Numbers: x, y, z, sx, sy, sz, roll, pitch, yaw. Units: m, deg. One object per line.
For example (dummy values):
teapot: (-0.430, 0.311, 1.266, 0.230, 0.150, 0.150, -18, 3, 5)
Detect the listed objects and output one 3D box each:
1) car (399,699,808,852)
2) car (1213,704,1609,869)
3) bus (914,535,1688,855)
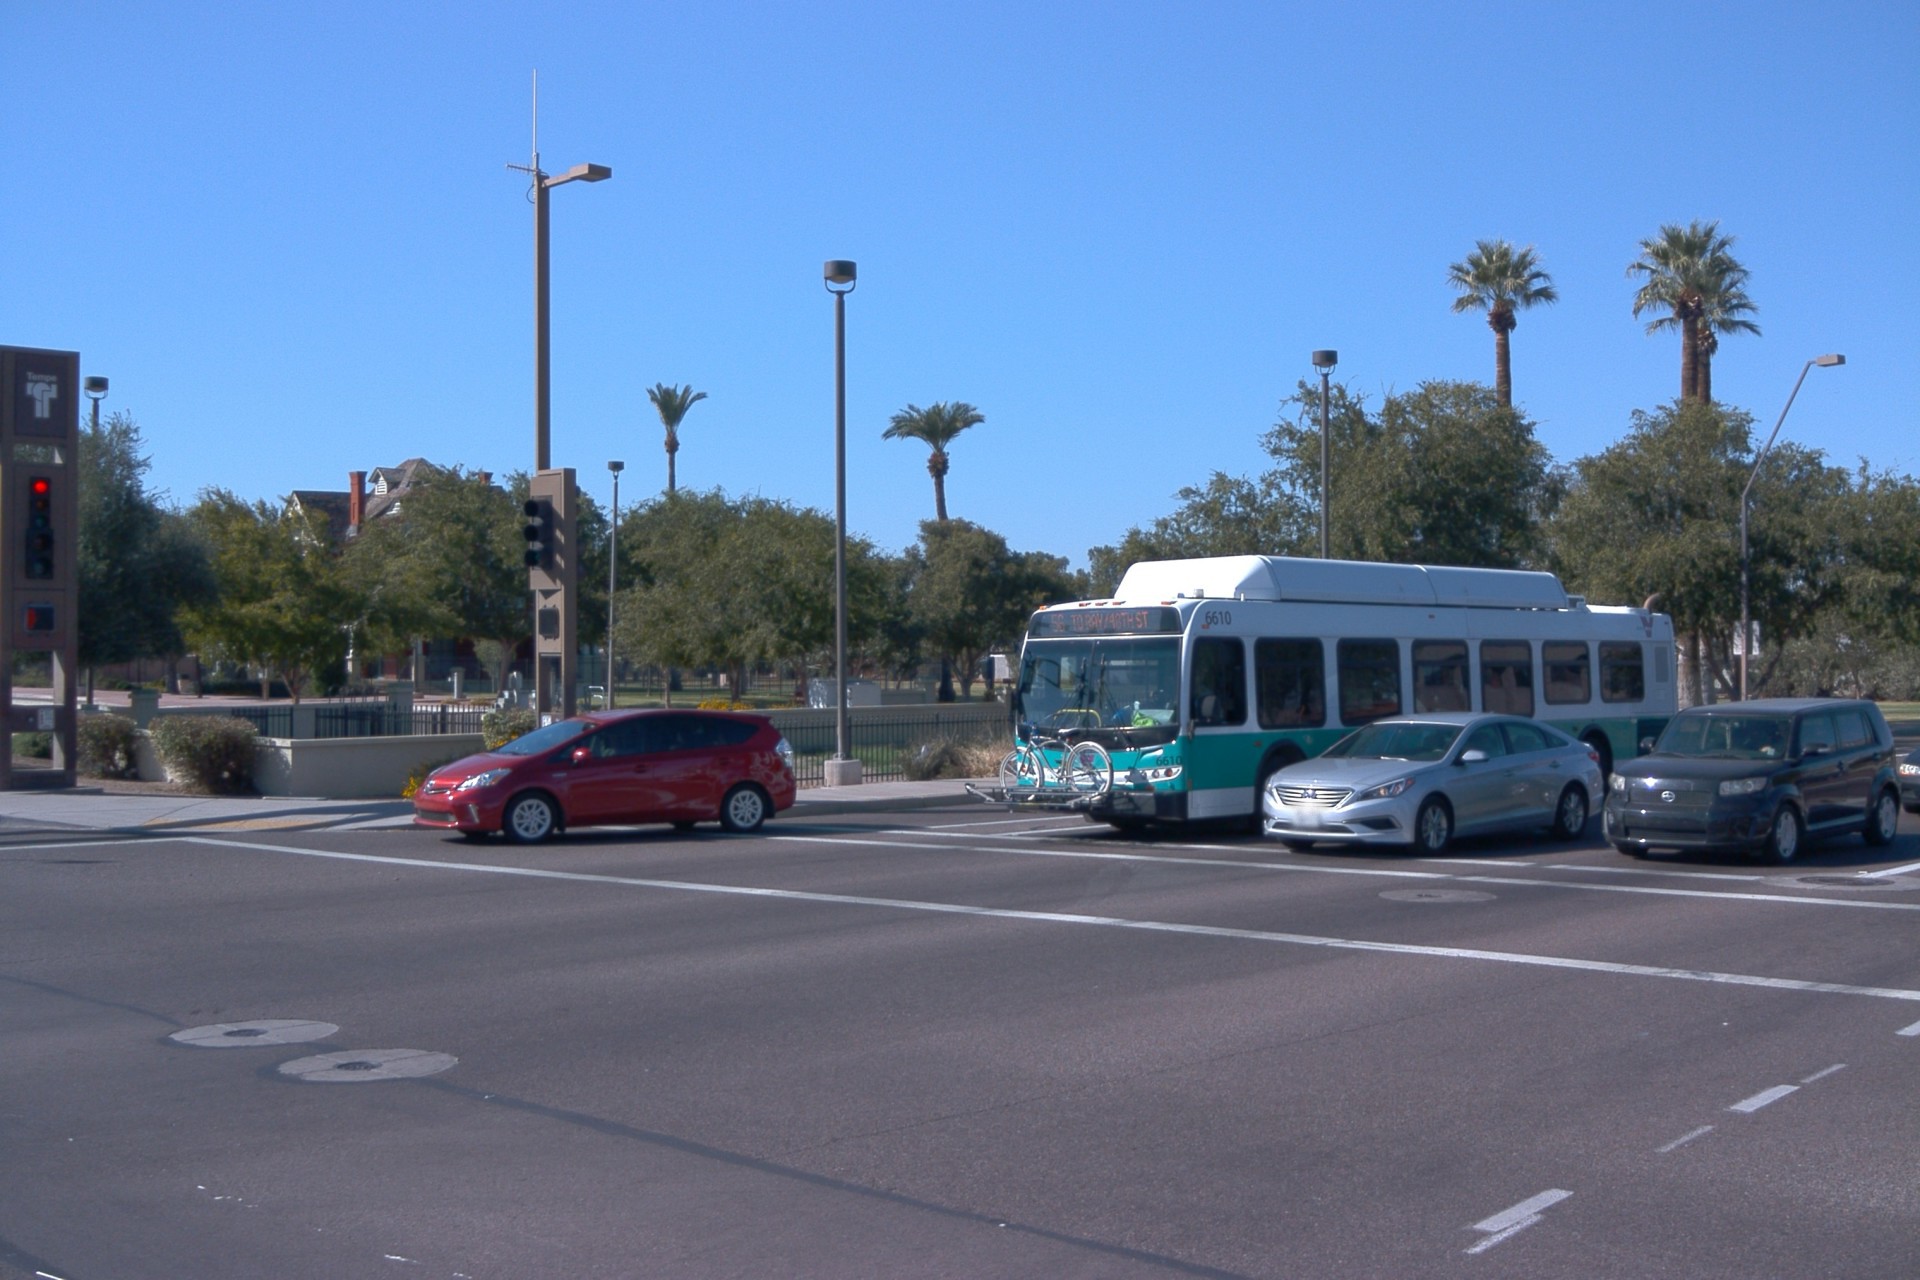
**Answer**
car: (-4.333, 1.585, 25.559, 4.583, 1.620, 1.930, 0, 0, -36)
car: (5.108, 1.525, 23.070, 2.060, 1.500, 4.840, 0, 0, 44)
bus: (5.304, 0.600, 28.073, 3.215, 3.400, 13.487, 0, 0, 44)
